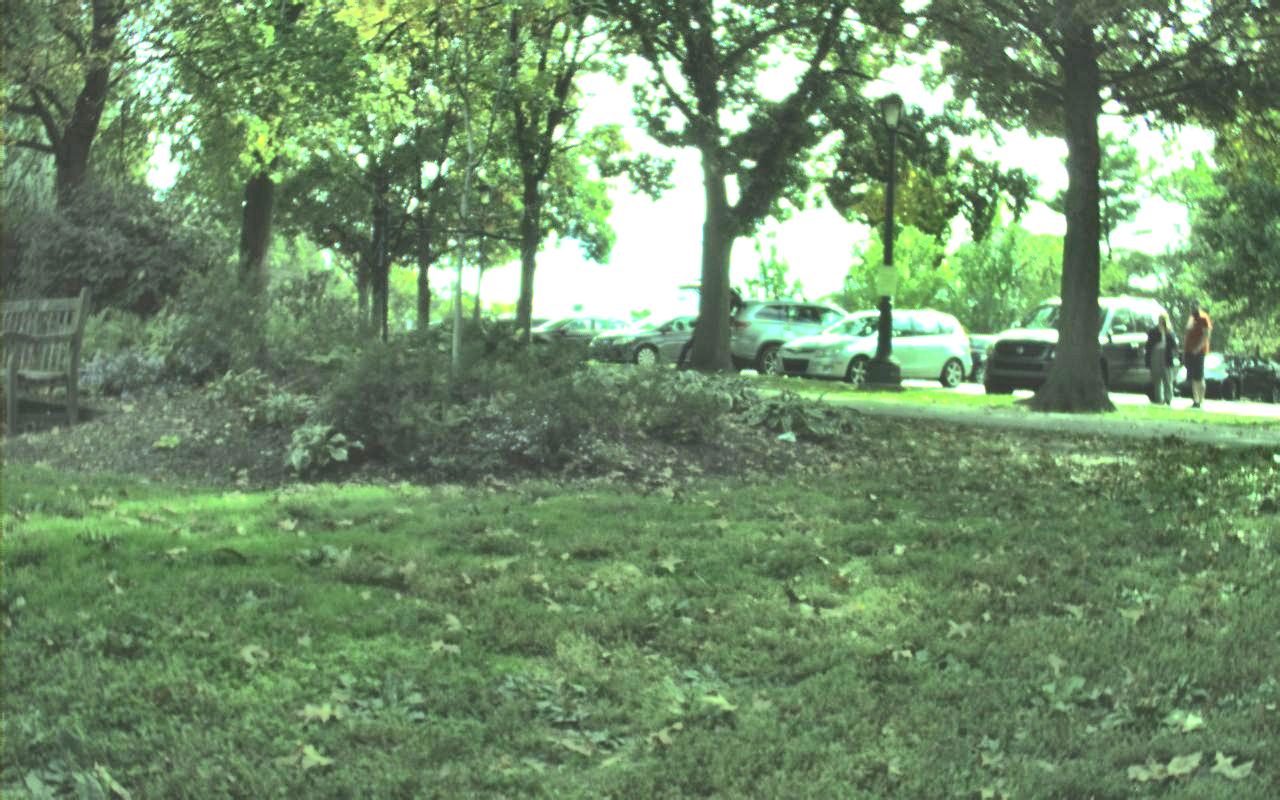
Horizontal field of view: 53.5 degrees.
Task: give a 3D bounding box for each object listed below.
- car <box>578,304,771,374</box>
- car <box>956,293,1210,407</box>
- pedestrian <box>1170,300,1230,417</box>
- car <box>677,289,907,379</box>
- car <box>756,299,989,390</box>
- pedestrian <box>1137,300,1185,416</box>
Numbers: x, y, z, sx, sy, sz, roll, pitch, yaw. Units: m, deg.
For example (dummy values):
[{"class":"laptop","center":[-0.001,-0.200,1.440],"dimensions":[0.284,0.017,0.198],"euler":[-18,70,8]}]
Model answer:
[{"class":"car","center":[0.886,-1.464,31.428],"dimensions":[4.415,1.605,1.948],"euler":[0,1,-31]},{"class":"car","center":[7.374,-0.750,19.692],"dimensions":[4.577,1.657,2.006],"euler":[0,1,-33]},{"class":"pedestrian","center":[9.136,-0.636,19.011],"dimensions":[0.759,1.869,0.766],"euler":[0,0,-33]},{"class":"car","center":[3.265,-1.340,26.813],"dimensions":[4.572,1.771,1.983],"euler":[0,1,-25]},{"class":"car","center":[4.633,-1.023,24.493],"dimensions":[4.563,1.602,1.947],"euler":[0,1,-34]},{"class":"pedestrian","center":[8.361,-0.637,18.993],"dimensions":[0.770,1.815,0.759],"euler":[1,0,21]}]
